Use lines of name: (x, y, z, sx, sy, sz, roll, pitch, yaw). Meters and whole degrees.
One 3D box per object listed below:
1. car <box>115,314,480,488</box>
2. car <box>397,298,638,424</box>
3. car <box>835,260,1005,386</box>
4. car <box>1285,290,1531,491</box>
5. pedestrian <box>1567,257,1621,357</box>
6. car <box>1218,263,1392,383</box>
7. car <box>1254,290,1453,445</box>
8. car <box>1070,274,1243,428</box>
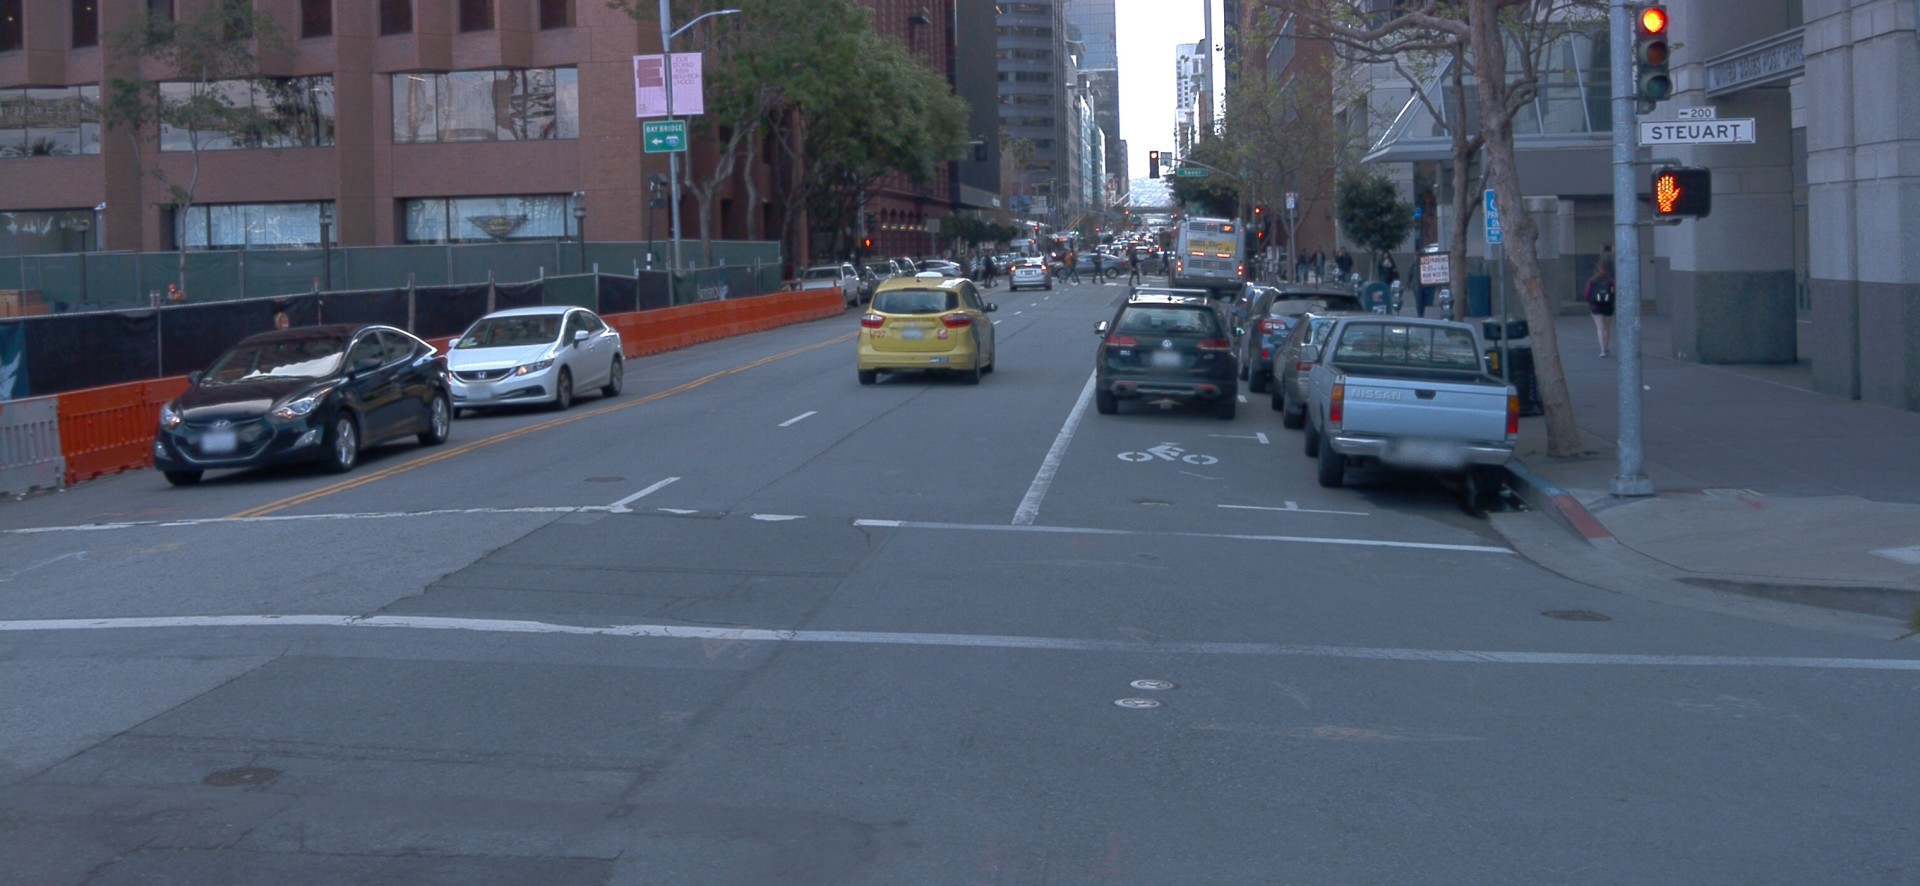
car: (-6.665, -0.537, 21.377, 1.996, 1.424, 4.629, 0, 5, 5)
car: (-6.157, -1.237, 29.344, 2.056, 1.494, 4.643, 0, 5, 5)
car: (-0.538, -1.942, 32.217, 2.178, 1.784, 4.423, 0, 5, 5)
car: (4.231, -0.634, 20.145, 1.863, 1.604, 4.695, 0, 5, 6)
pedestrian: (10.642, -2.294, 34.690, 0.720, 1.649, 0.900, 0, 1, 7)
car: (5.270, -1.947, 32.212, 2.261, 1.663, 4.949, 0, 5, 5)
car: (4.844, -1.042, 26.013, 2.108, 1.654, 4.603, 0, 5, 6)
car: (2.641, -1.279, 26.892, 2.035, 1.754, 4.228, 0, 5, 8)
